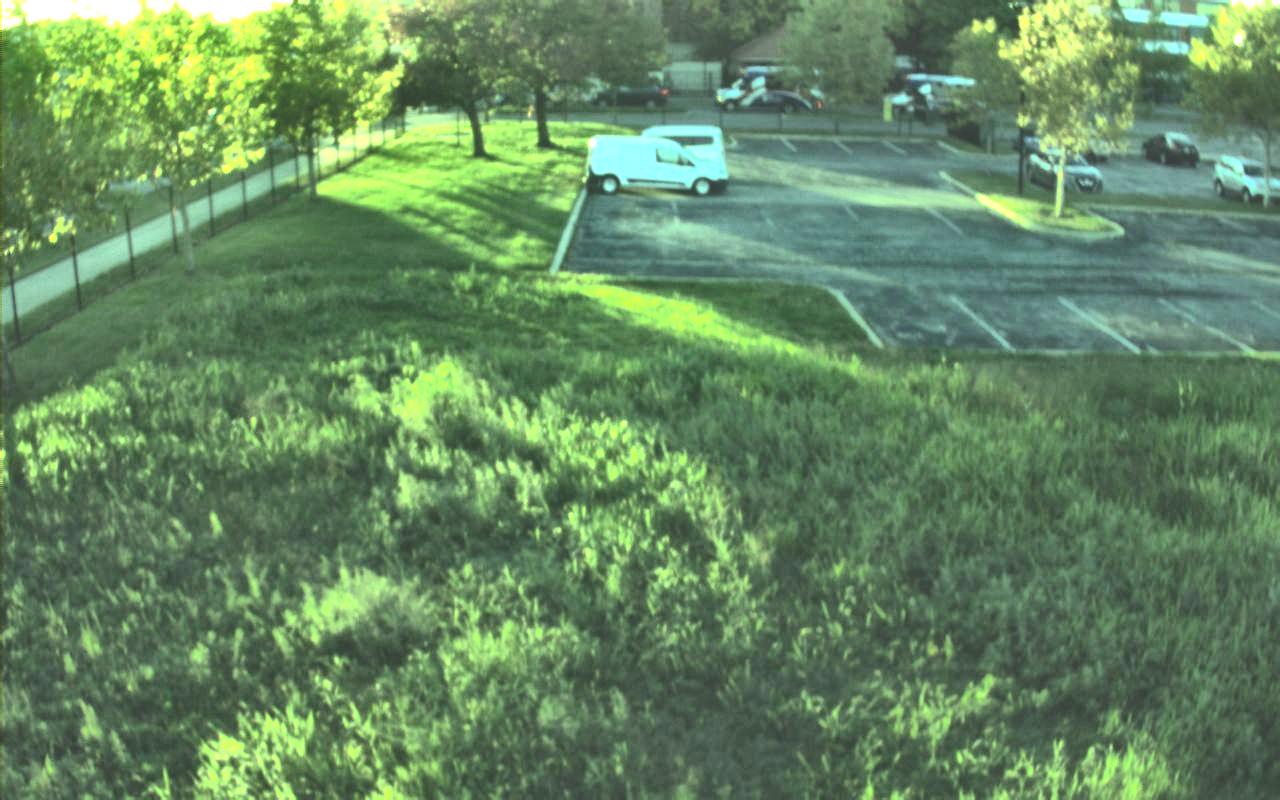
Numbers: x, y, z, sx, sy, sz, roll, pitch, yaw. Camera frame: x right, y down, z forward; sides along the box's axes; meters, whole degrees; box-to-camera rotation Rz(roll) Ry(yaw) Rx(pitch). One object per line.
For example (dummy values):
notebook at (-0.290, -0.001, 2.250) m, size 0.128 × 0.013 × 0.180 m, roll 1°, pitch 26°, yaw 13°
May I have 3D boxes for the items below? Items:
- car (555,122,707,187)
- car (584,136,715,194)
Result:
car at (-0.326, -8.218, 41.759) m, size 4.923 × 1.906 × 2.097 m, roll -1°, pitch 16°, yaw -2°
car at (0.328, -8.780, 46.596) m, size 4.718 × 1.866 × 2.093 m, roll -2°, pitch 16°, yaw -4°
